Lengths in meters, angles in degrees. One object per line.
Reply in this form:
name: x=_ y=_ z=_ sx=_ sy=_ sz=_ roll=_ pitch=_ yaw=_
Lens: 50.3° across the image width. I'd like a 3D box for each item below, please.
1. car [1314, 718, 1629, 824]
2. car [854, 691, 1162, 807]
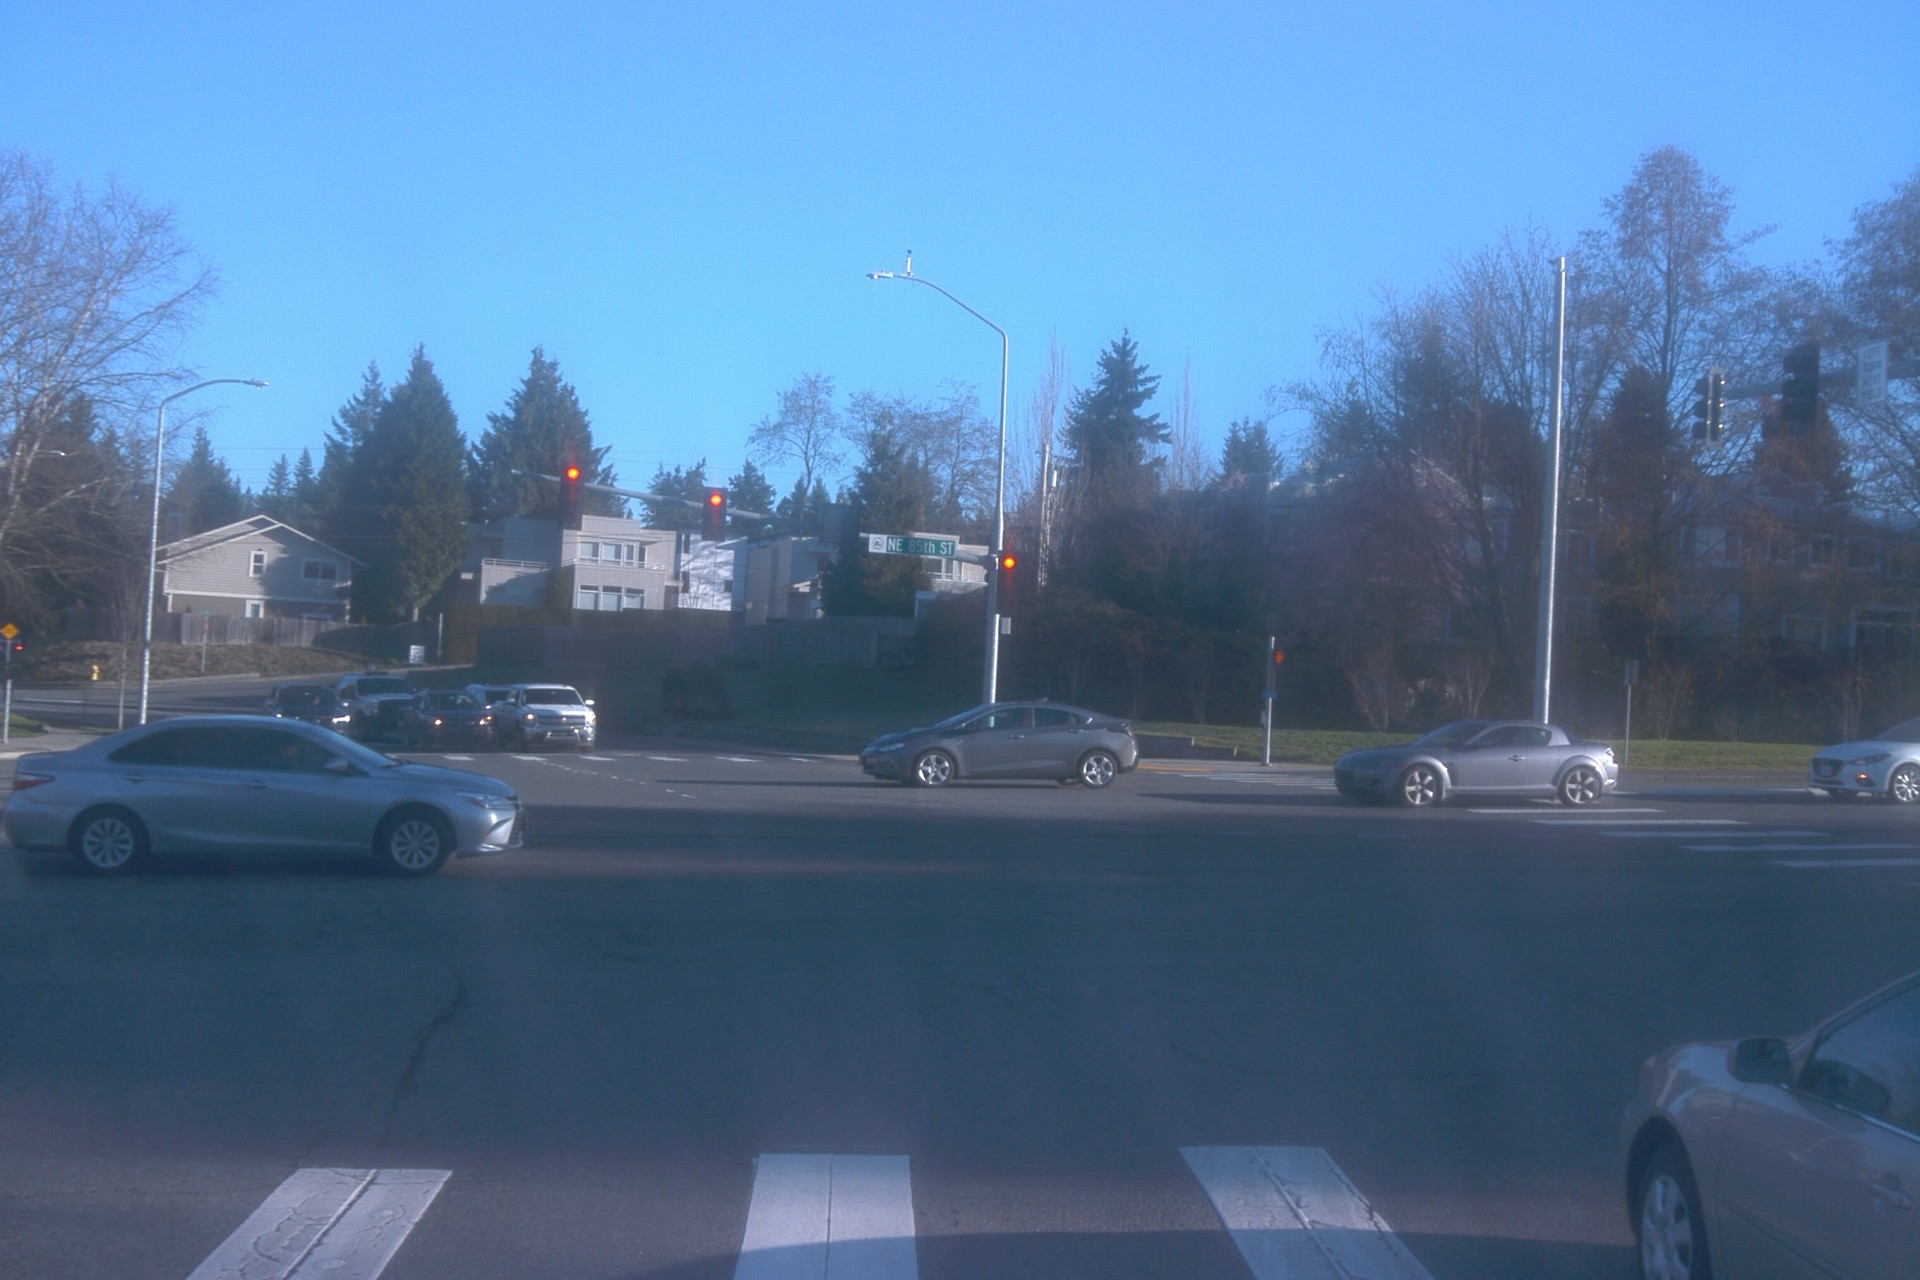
car: x=7.760 y=1.962 z=31.073 sx=4.302 sy=1.450 sz=1.815 roll=1 pitch=0 yaw=-17
car: x=0.767 y=1.795 z=33.976 sx=4.781 sy=1.770 sz=1.886 roll=1 pitch=0 yaw=-13
